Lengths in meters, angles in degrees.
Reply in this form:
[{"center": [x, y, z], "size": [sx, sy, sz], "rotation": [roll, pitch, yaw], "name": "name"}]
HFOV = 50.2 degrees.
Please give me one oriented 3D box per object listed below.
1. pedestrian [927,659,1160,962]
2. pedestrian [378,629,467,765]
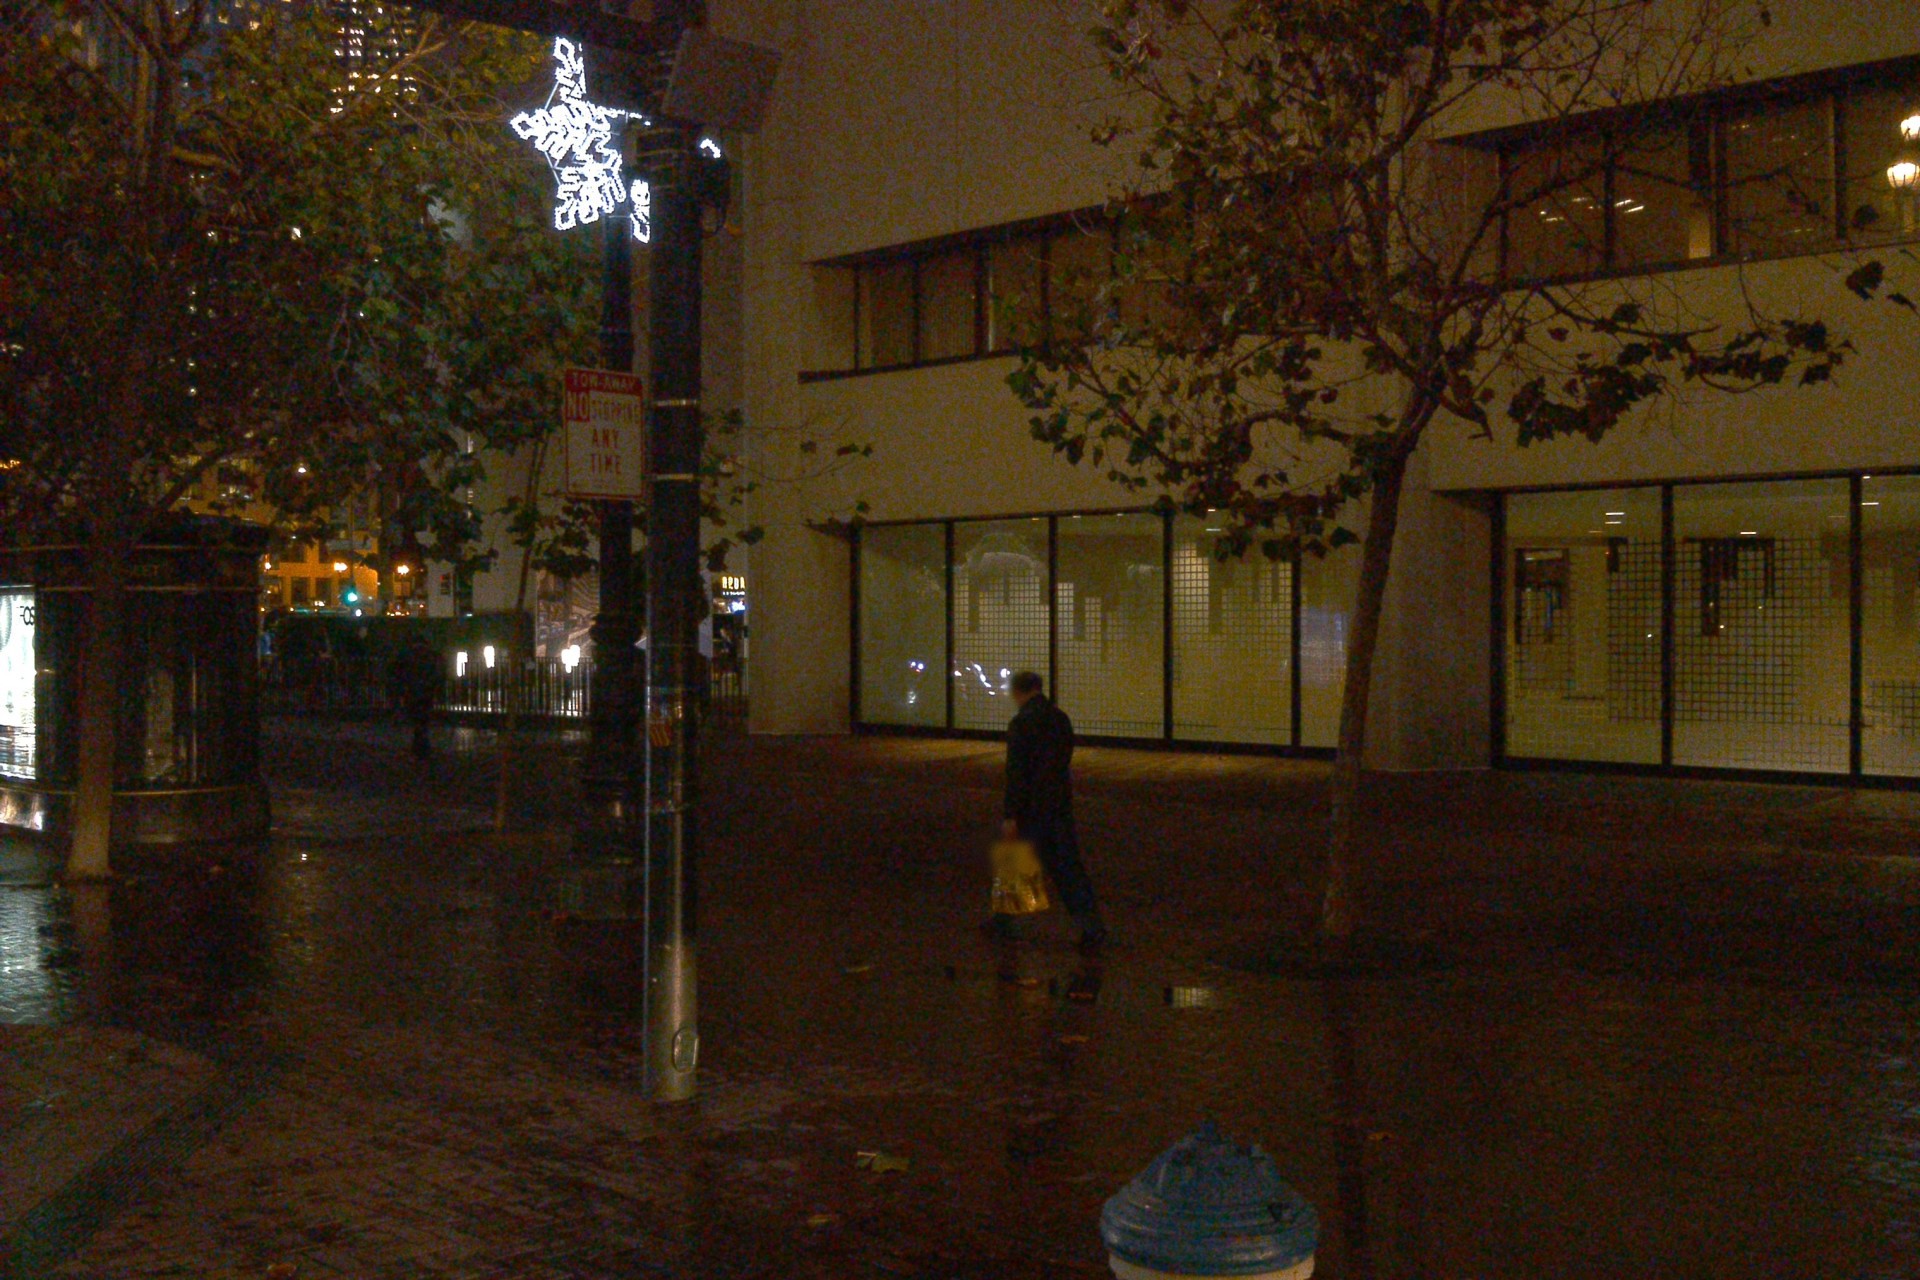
[{"center": [0.506, 0.993, 12.546], "size": [0.941, 1.740, 1.066], "rotation": [1, 0, -41], "name": "pedestrian"}, {"center": [-7.190, 0.744, 27.385], "size": [0.860, 1.780, 1.103], "rotation": [1, 0, -31], "name": "pedestrian"}]
